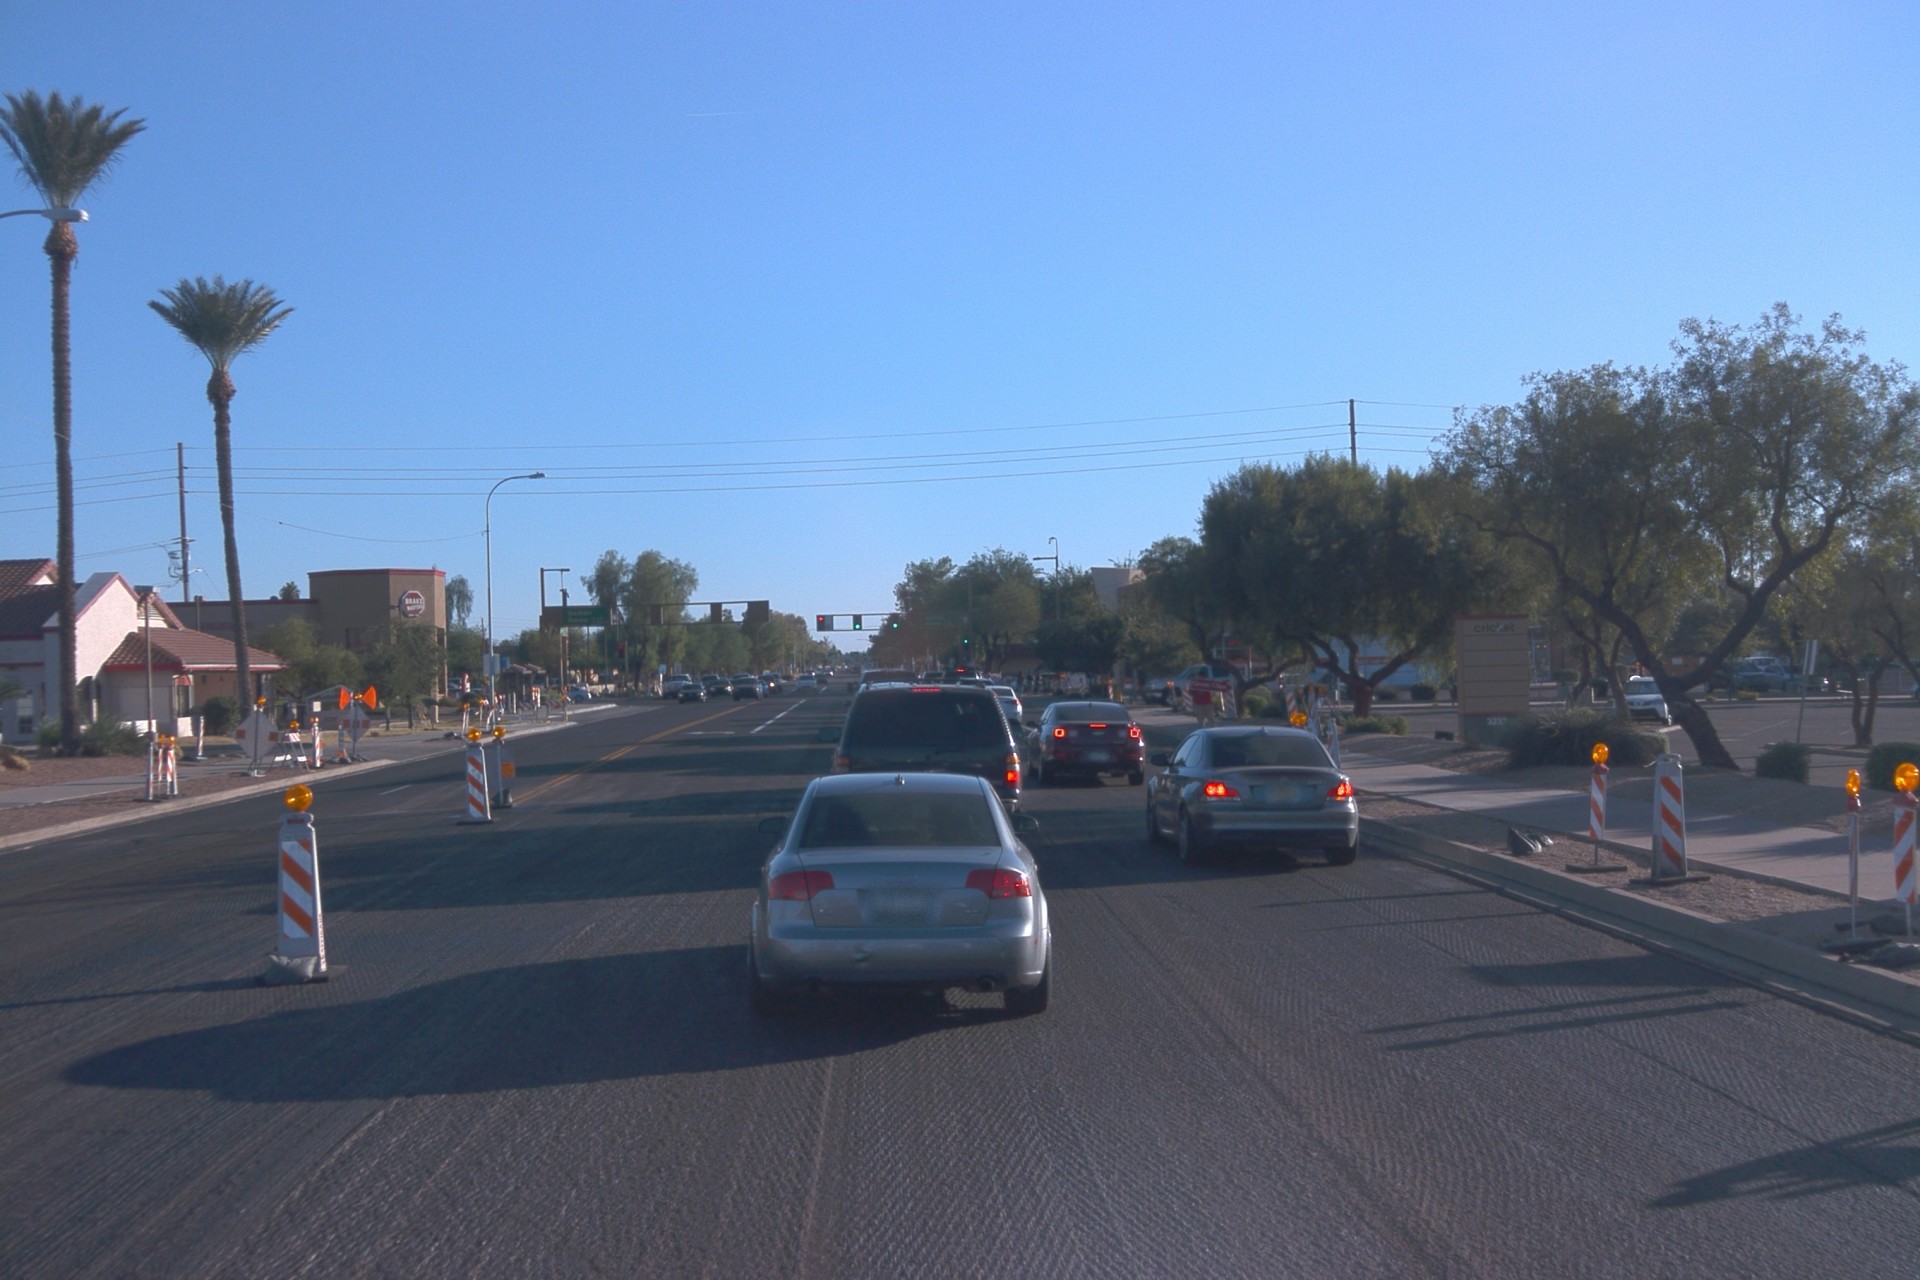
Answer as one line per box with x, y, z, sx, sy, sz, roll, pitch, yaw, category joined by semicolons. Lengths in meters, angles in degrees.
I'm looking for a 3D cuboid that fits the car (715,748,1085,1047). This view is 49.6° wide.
-0.382;1.528;13.628;2.033;1.480;4.403;0;-1;-1;car

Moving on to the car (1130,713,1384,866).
3.087;1.543;22.502;1.991;1.410;4.329;0;-1;-2;car

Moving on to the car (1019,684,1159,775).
2.266;1.578;37.840;2.110;1.540;4.834;0;-1;-2;car

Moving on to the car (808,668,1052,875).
-0.401;1.335;23.026;2.404;2.040;5.063;0;-1;-2;car
